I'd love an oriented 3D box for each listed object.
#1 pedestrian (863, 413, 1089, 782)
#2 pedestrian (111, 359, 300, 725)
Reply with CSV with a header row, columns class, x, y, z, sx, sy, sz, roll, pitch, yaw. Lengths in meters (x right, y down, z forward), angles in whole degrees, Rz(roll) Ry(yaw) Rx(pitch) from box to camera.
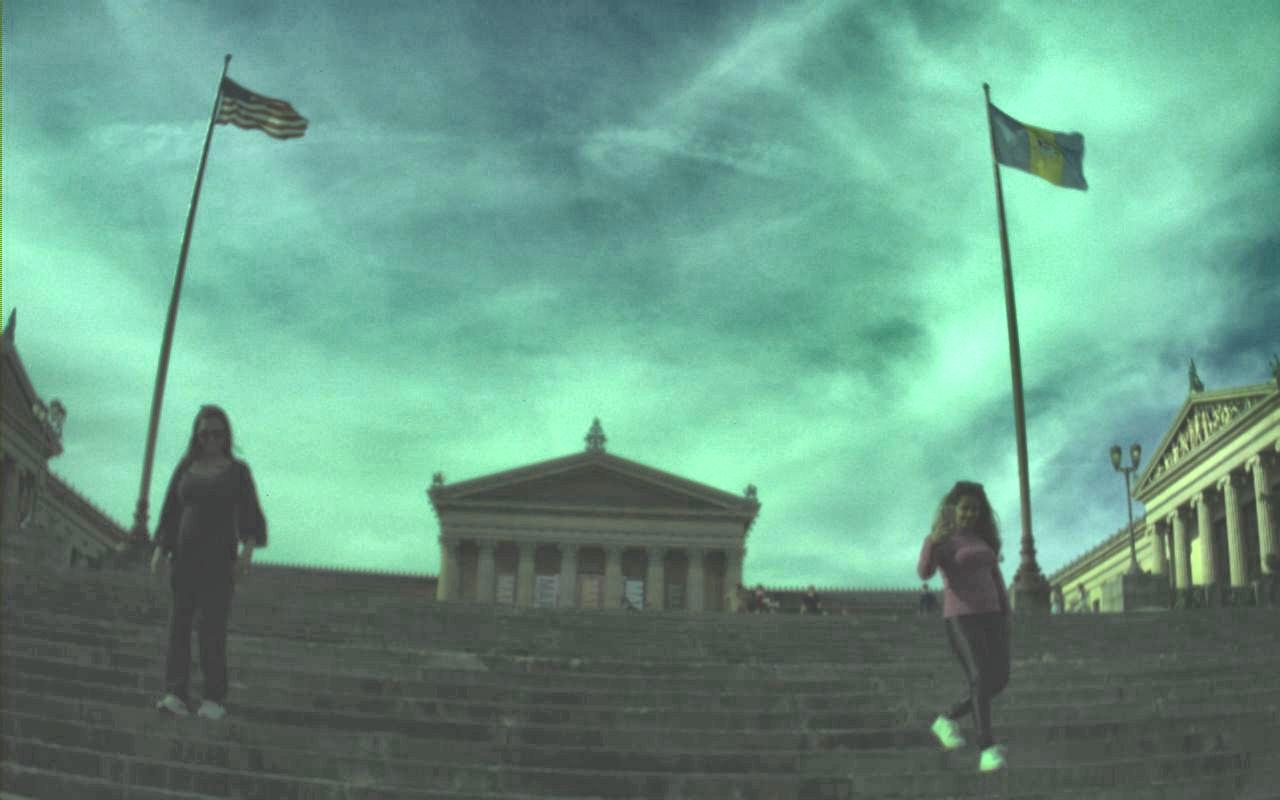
class,x,y,z,sx,sy,sz,roll,pitch,yaw
pedestrian,1.685,0.948,6.092,0.765,1.726,0.799,0,0,-25
pedestrian,-2.271,0.712,6.211,0.789,1.819,0.791,0,0,-3
